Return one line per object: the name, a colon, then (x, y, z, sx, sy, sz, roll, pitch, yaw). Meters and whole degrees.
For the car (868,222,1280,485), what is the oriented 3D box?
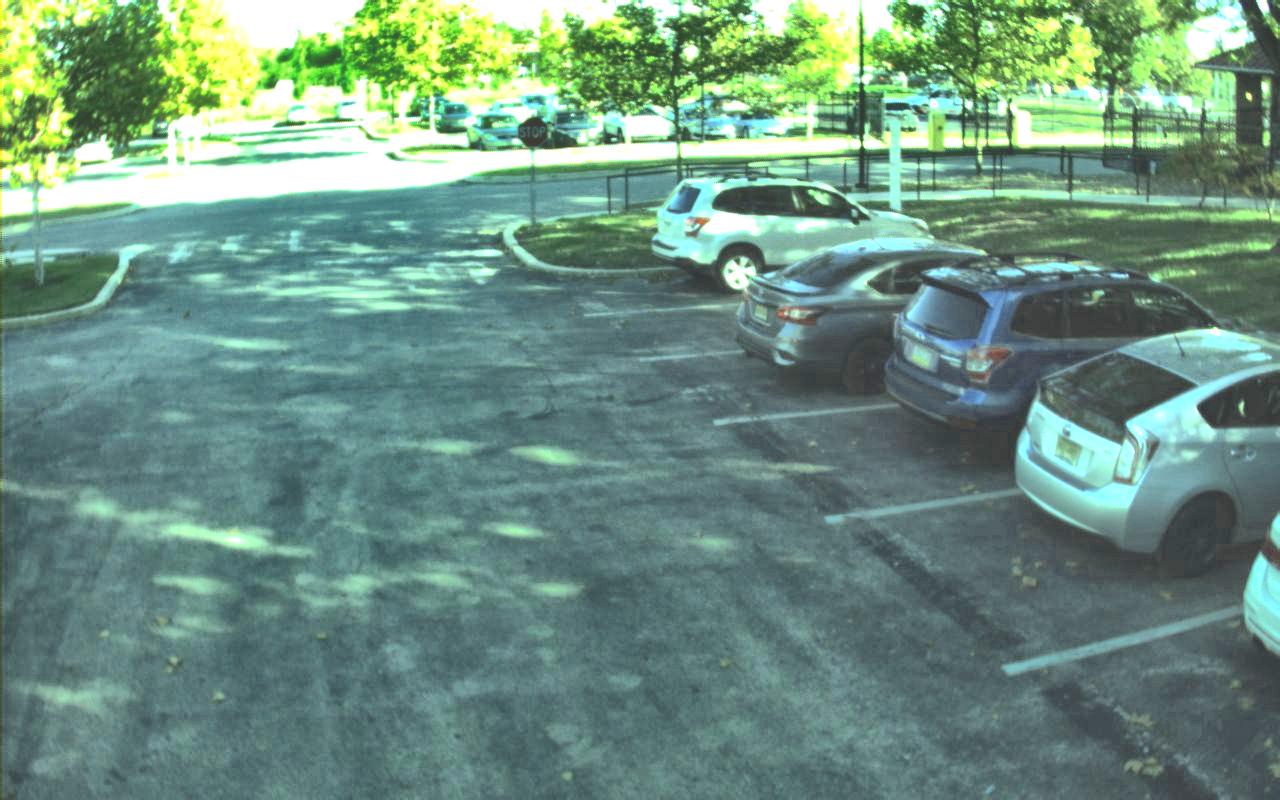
car: (4.602, -0.618, 11.403, 4.525, 1.736, 1.978, -6, 17, -15)

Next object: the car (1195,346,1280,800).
car: (5.801, 0.881, 6.492, 4.378, 1.621, 1.939, -5, 17, -14)

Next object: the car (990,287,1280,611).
car: (5.045, 0.200, 8.983, 4.317, 1.593, 1.906, -5, 17, -14)

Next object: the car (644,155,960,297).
car: (2.561, -2.828, 19.632, 4.587, 1.733, 1.986, -6, 17, -16)

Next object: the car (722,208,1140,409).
car: (3.357, -1.166, 13.974, 4.487, 1.570, 1.938, -7, 17, -18)
